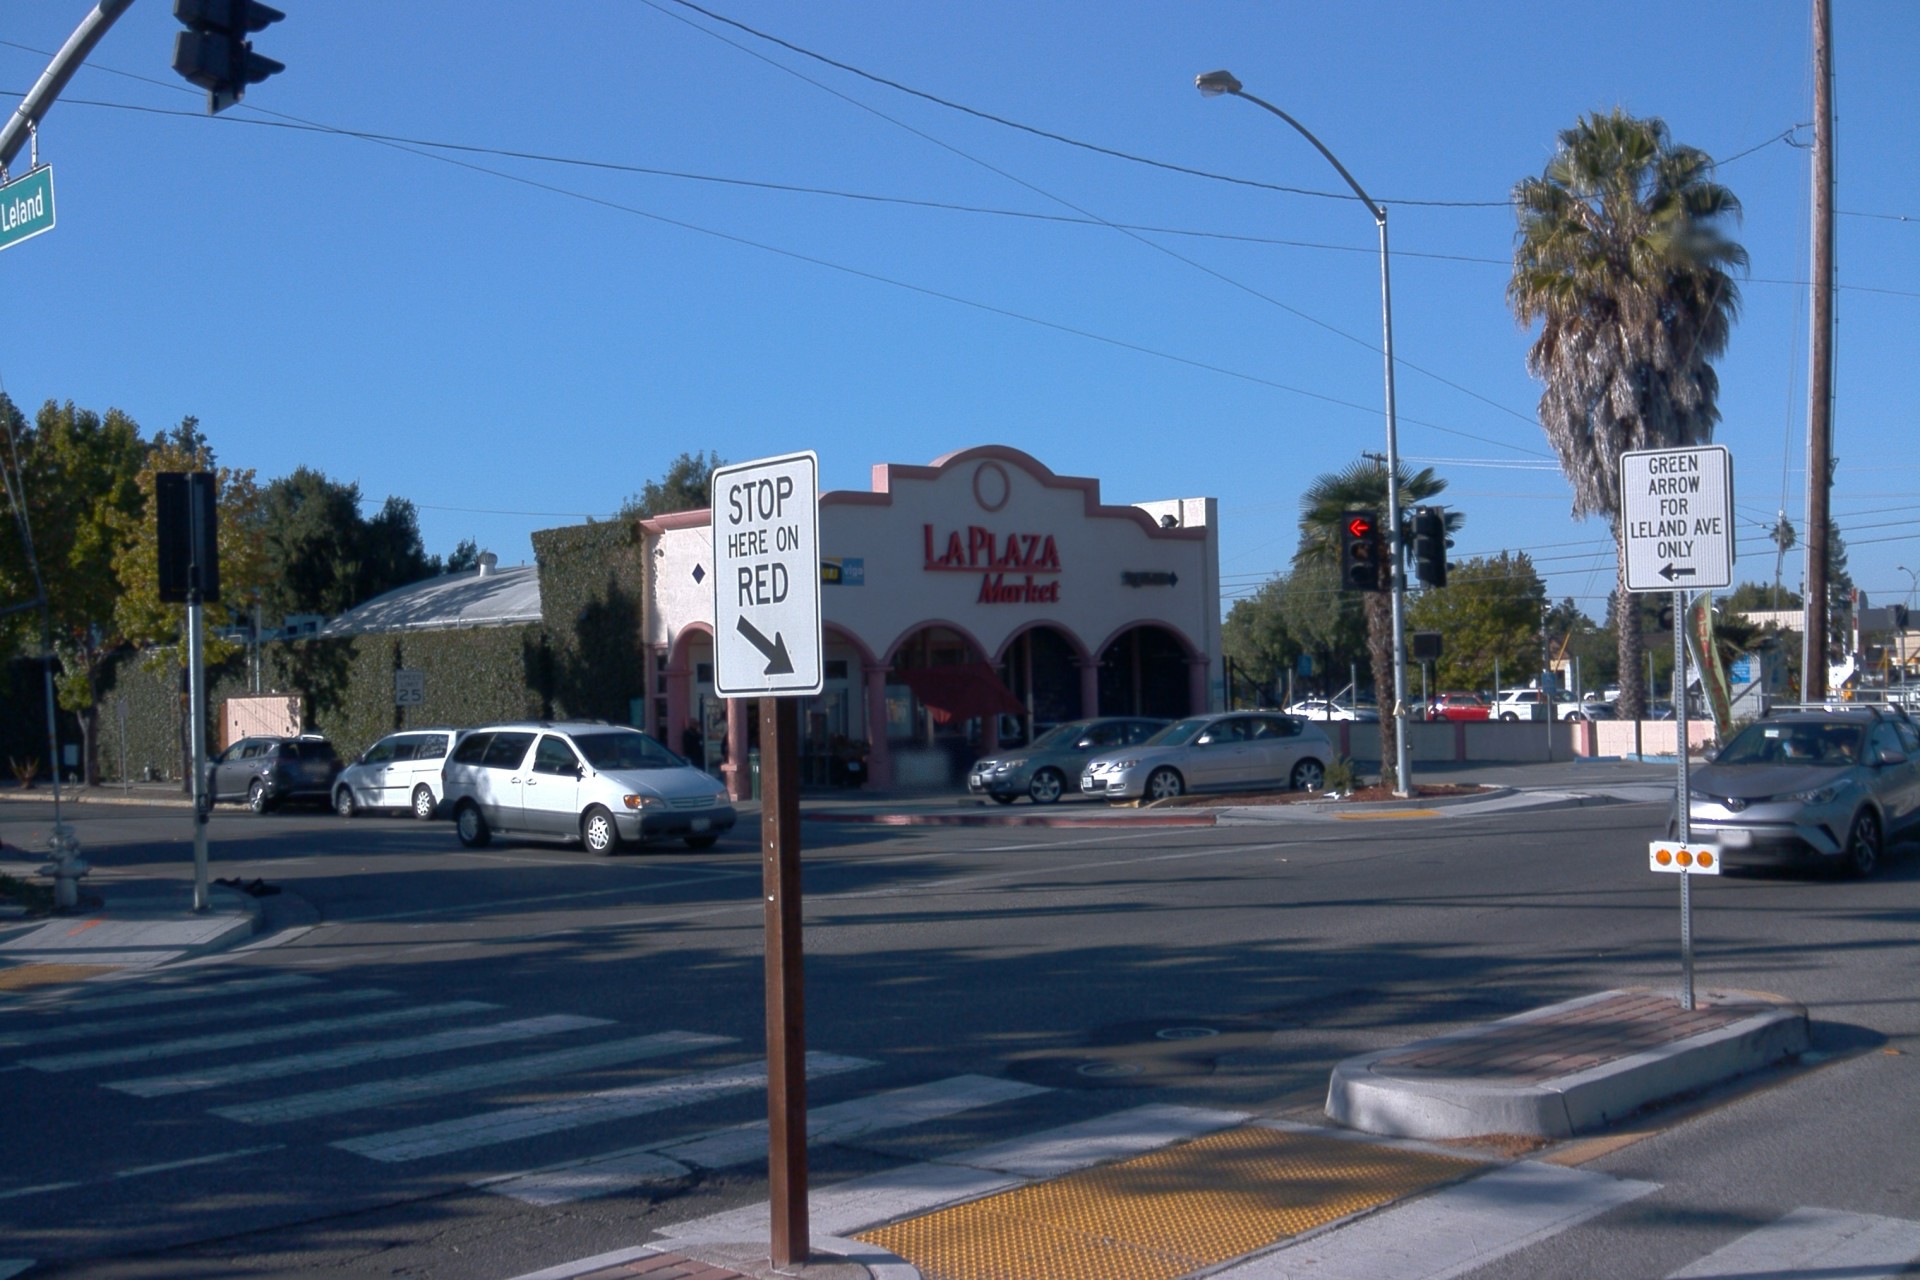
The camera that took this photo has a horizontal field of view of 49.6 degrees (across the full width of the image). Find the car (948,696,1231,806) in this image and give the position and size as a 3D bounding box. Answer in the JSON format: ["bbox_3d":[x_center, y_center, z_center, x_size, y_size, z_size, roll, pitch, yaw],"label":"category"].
[{"bbox_3d":[2.285,1.896,36.544,4.565,1.760,2.047,0,0,-28],"label":"car"}]

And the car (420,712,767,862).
[{"bbox_3d":[-5.074,1.910,28.283,4.949,1.710,2.120,0,-1,44],"label":"car"}]

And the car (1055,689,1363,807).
[{"bbox_3d":[4.105,1.727,34.199,4.646,1.780,2.014,0,0,-23],"label":"car"}]
